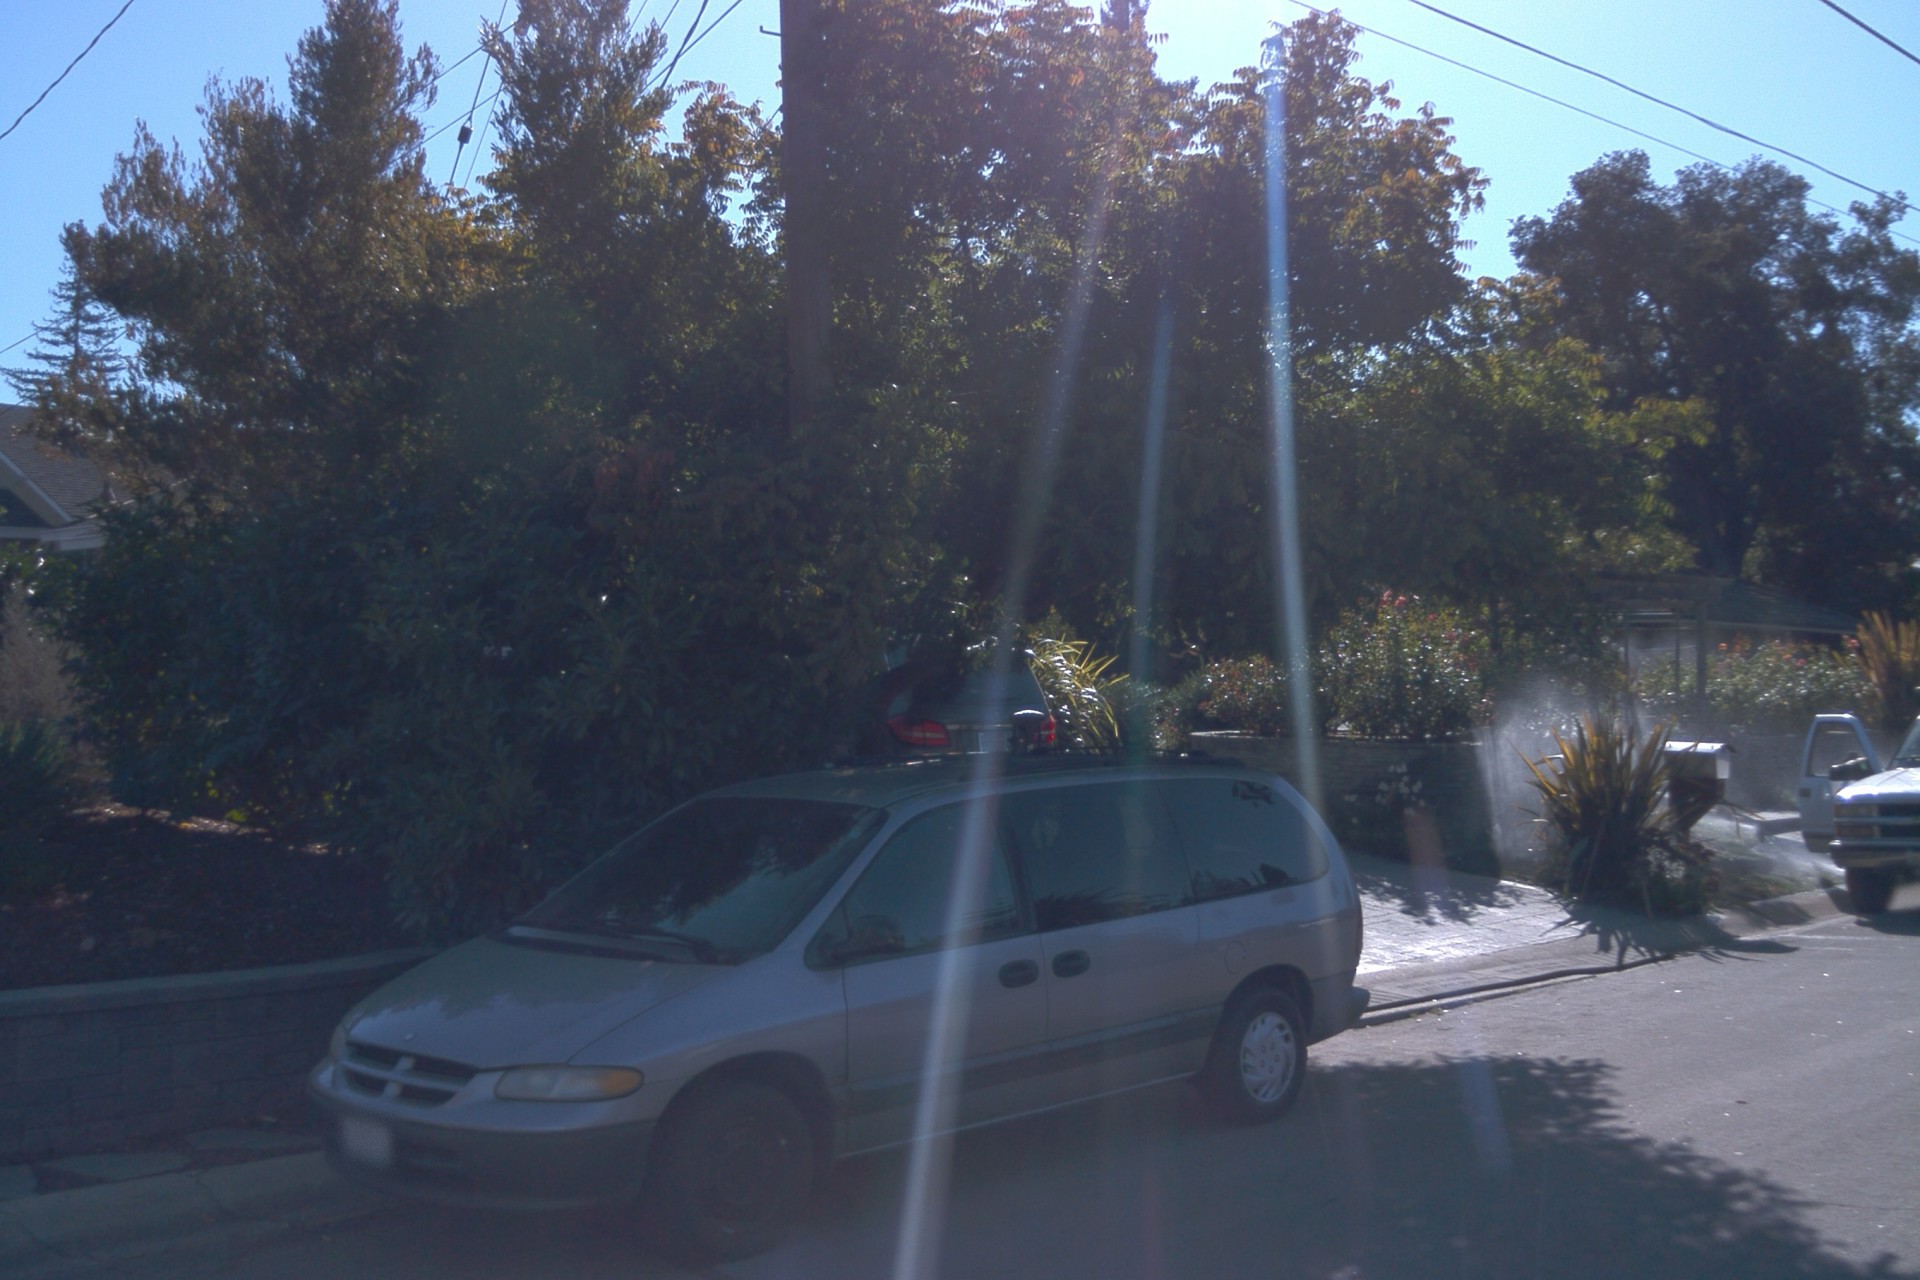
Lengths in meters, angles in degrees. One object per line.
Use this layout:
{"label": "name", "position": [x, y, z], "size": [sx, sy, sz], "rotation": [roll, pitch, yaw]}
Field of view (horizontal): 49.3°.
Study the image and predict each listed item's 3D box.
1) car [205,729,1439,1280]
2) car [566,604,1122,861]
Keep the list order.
{"label": "car", "position": [-0.297, 1.393, 9.233], "size": [2.253, 1.800, 5.235], "rotation": [1, 0, 45]}
{"label": "car", "position": [-1.216, 0.721, 19.107], "size": [2.166, 2.020, 5.241], "rotation": [0, 0, -44]}
